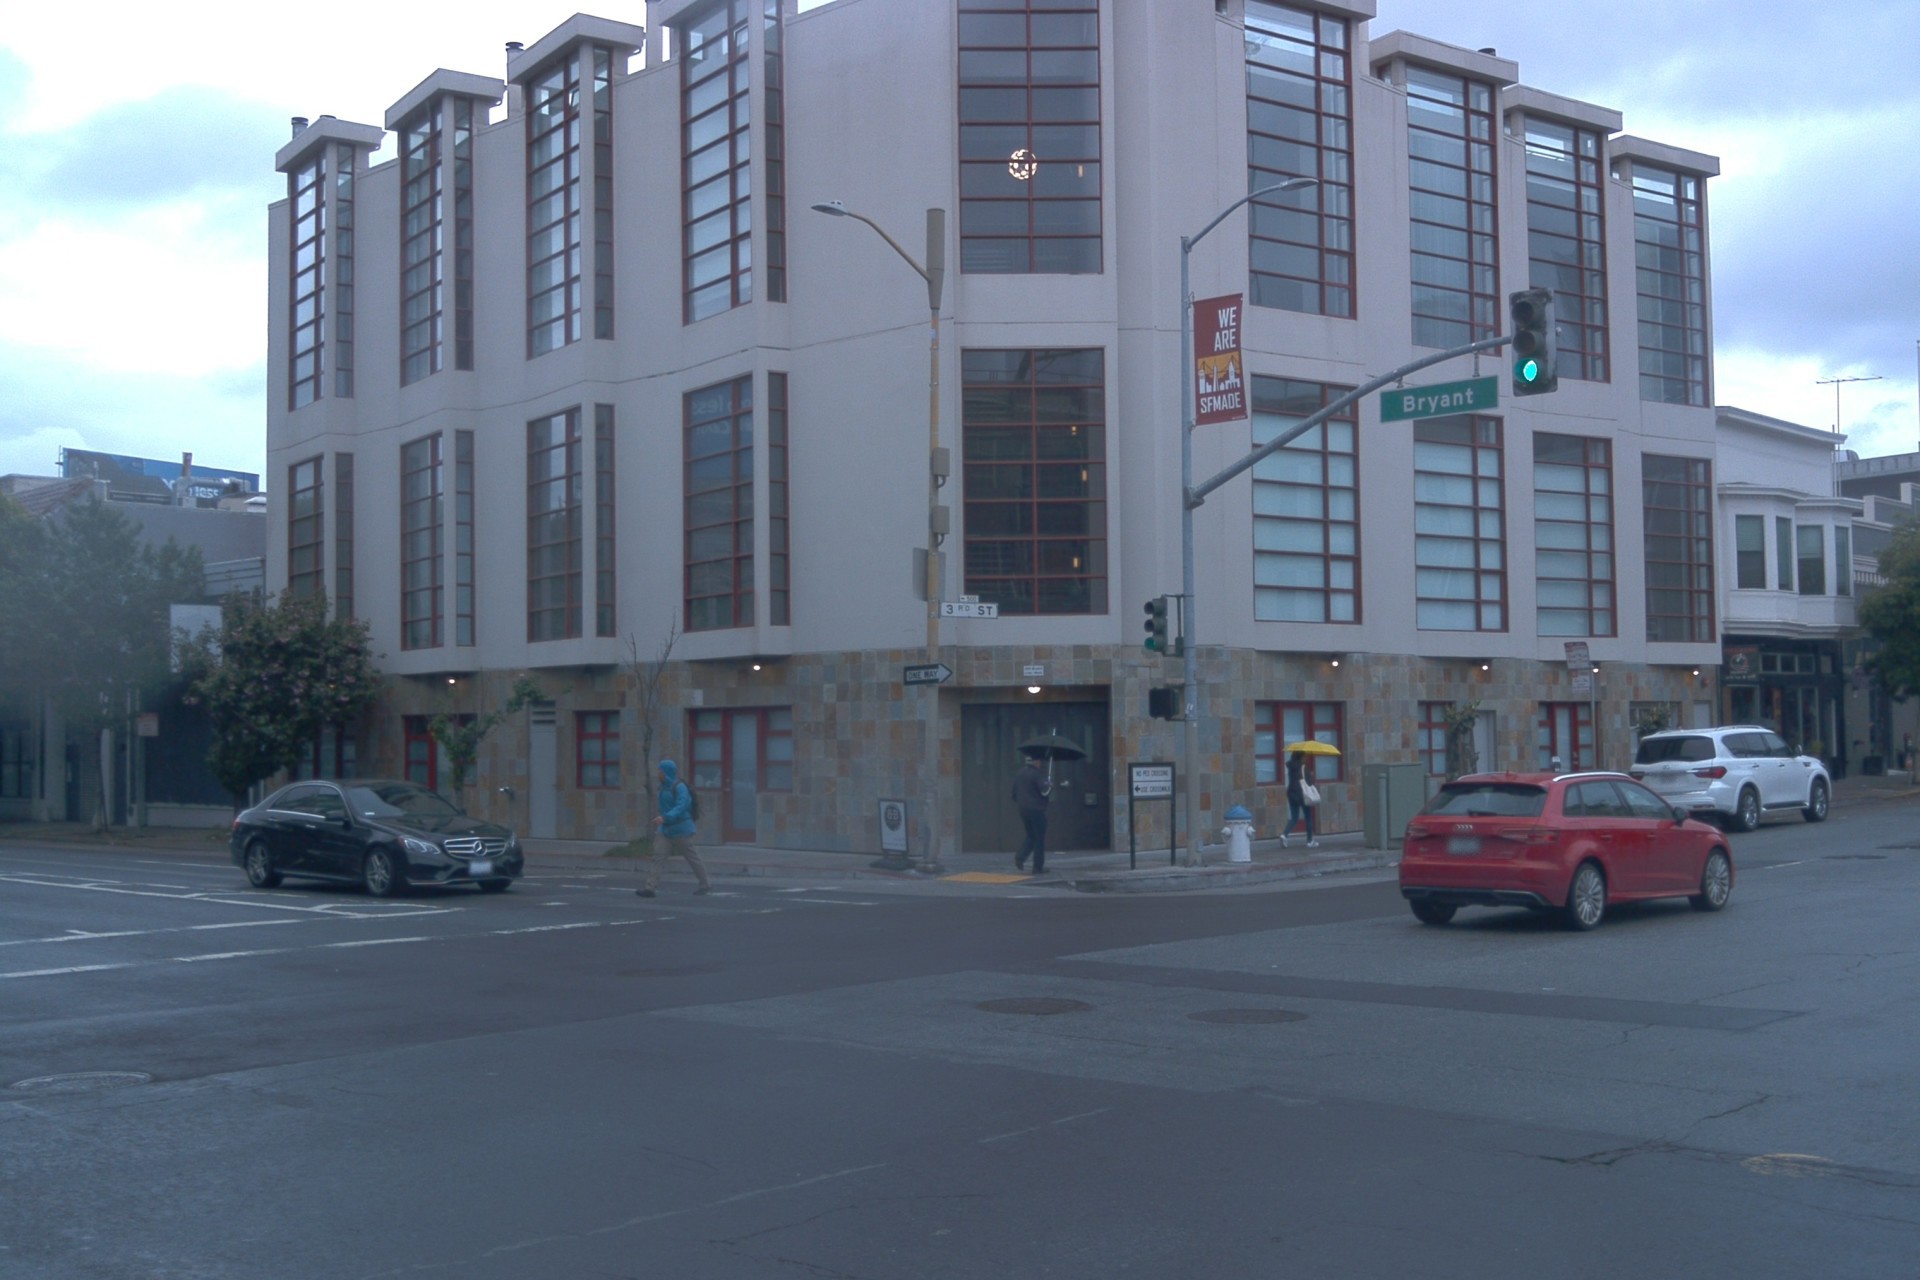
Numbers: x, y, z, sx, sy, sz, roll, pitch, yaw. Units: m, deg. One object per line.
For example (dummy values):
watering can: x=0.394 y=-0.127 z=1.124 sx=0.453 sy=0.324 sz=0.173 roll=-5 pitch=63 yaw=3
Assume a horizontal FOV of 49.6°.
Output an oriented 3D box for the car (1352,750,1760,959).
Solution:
car: x=5.915 y=1.978 z=20.321 sx=1.997 sy=1.570 sz=4.449 roll=0 pitch=0 yaw=44

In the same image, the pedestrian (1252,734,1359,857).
pedestrian: x=5.604 y=2.493 z=33.740 sx=1.362 sy=1.860 sz=1.137 roll=0 pitch=0 yaw=-45

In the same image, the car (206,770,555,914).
car: x=-7.654 y=2.563 z=27.211 sx=4.852 sy=1.410 sz=2.145 roll=0 pitch=0 yaw=42

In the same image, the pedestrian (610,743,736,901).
pedestrian: x=-3.524 y=2.211 z=25.586 sx=0.924 sy=1.810 sz=1.235 roll=0 pitch=0 yaw=42

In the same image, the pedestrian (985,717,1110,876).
pedestrian: x=1.241 y=2.169 z=29.290 sx=1.228 sy=2.110 sz=1.341 roll=0 pitch=0 yaw=34
